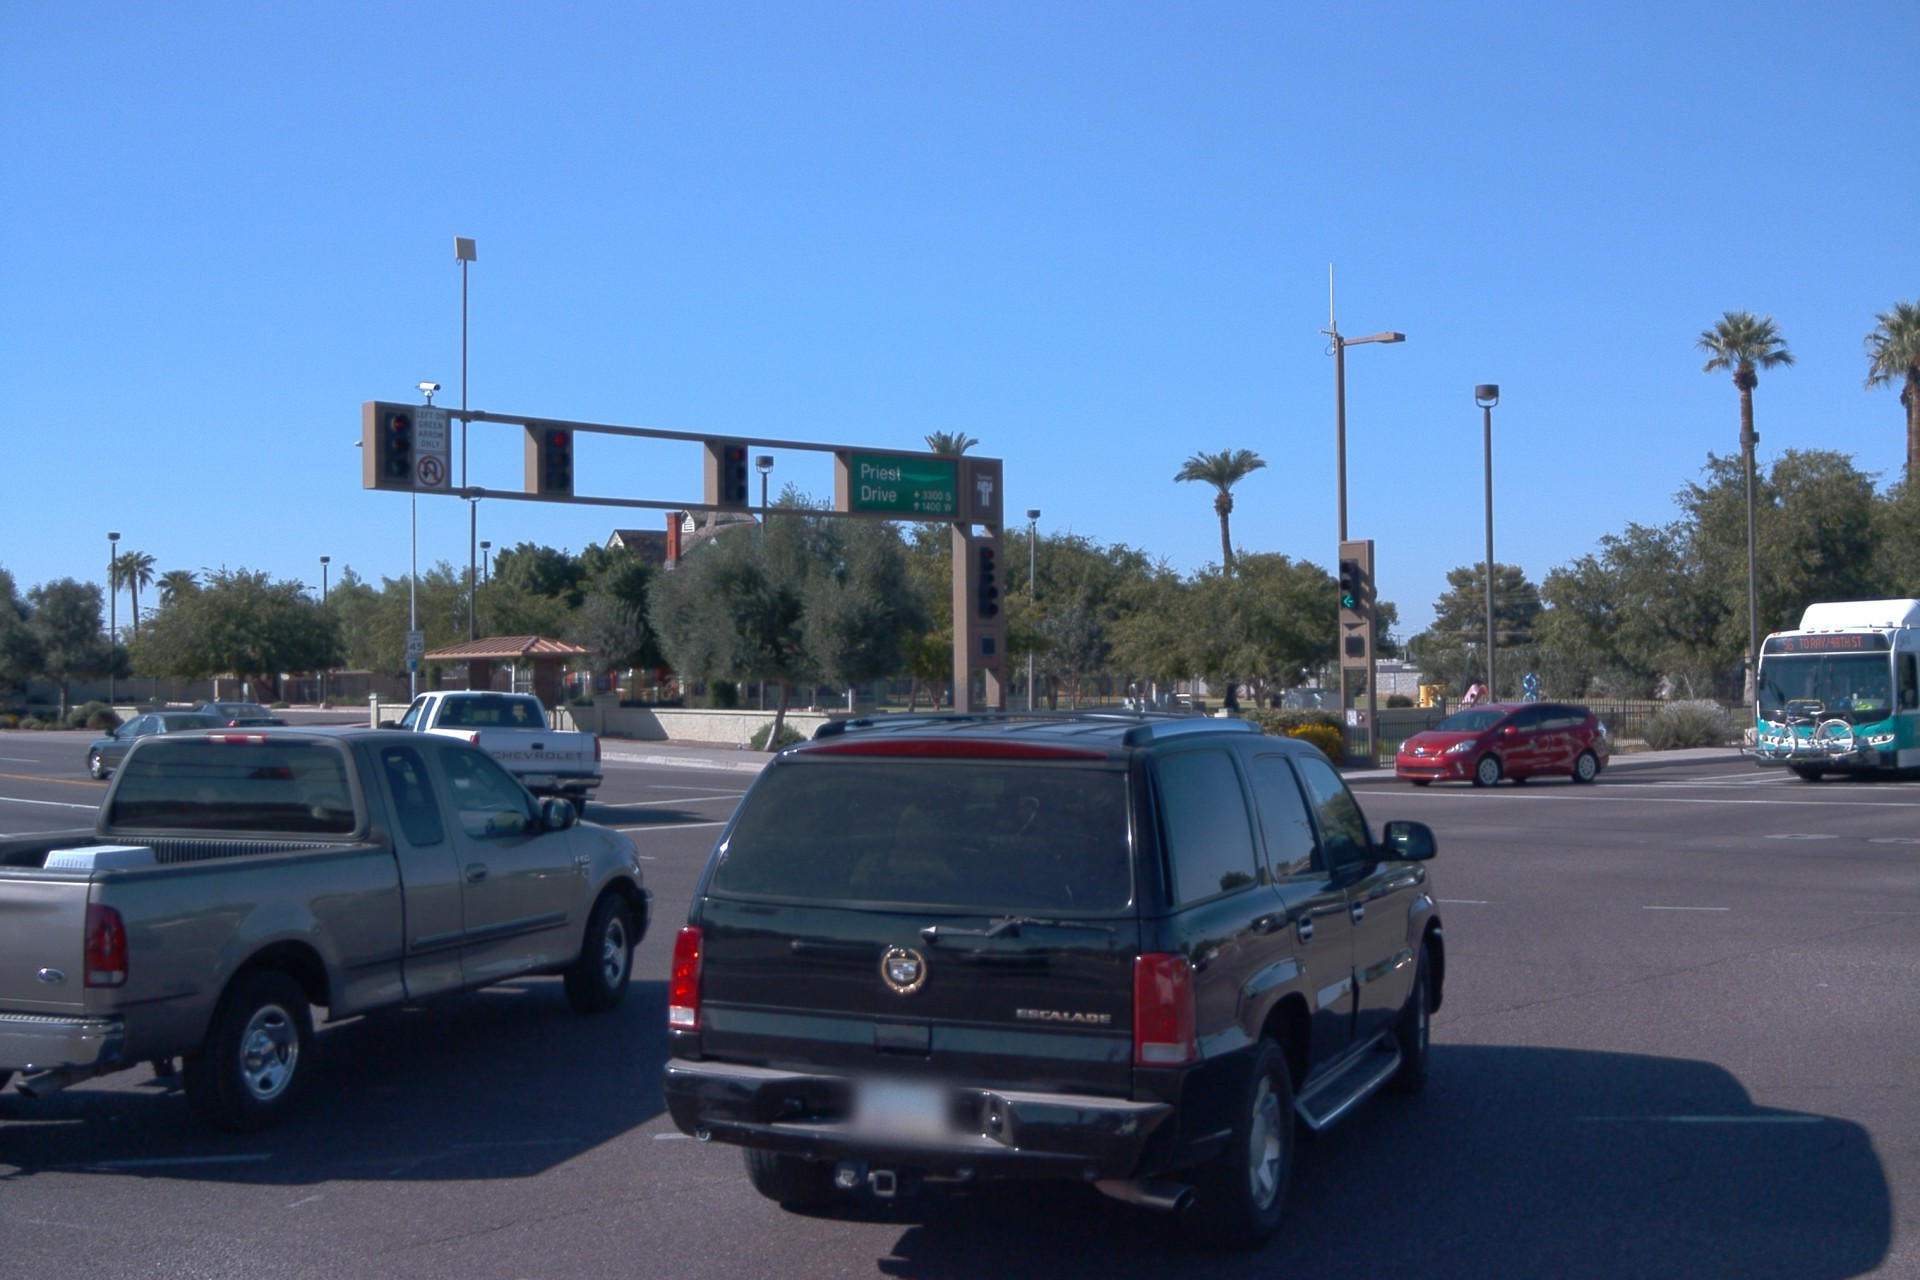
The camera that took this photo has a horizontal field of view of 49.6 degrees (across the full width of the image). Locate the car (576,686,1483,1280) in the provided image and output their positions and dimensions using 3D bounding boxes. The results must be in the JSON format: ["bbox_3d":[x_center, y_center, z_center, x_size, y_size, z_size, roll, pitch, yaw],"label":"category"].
[{"bbox_3d":[0.711,1.233,8.824,2.206,1.970,5.042,0,0,22],"label":"car"}]

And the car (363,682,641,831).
[{"bbox_3d":[-7.052,1.641,31.341,2.511,1.900,6.150,0,0,-28],"label":"car"}]

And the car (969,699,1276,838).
[{"bbox_3d":[2.118,1.692,28.691,2.091,1.610,4.735,0,0,-27],"label":"car"}]
